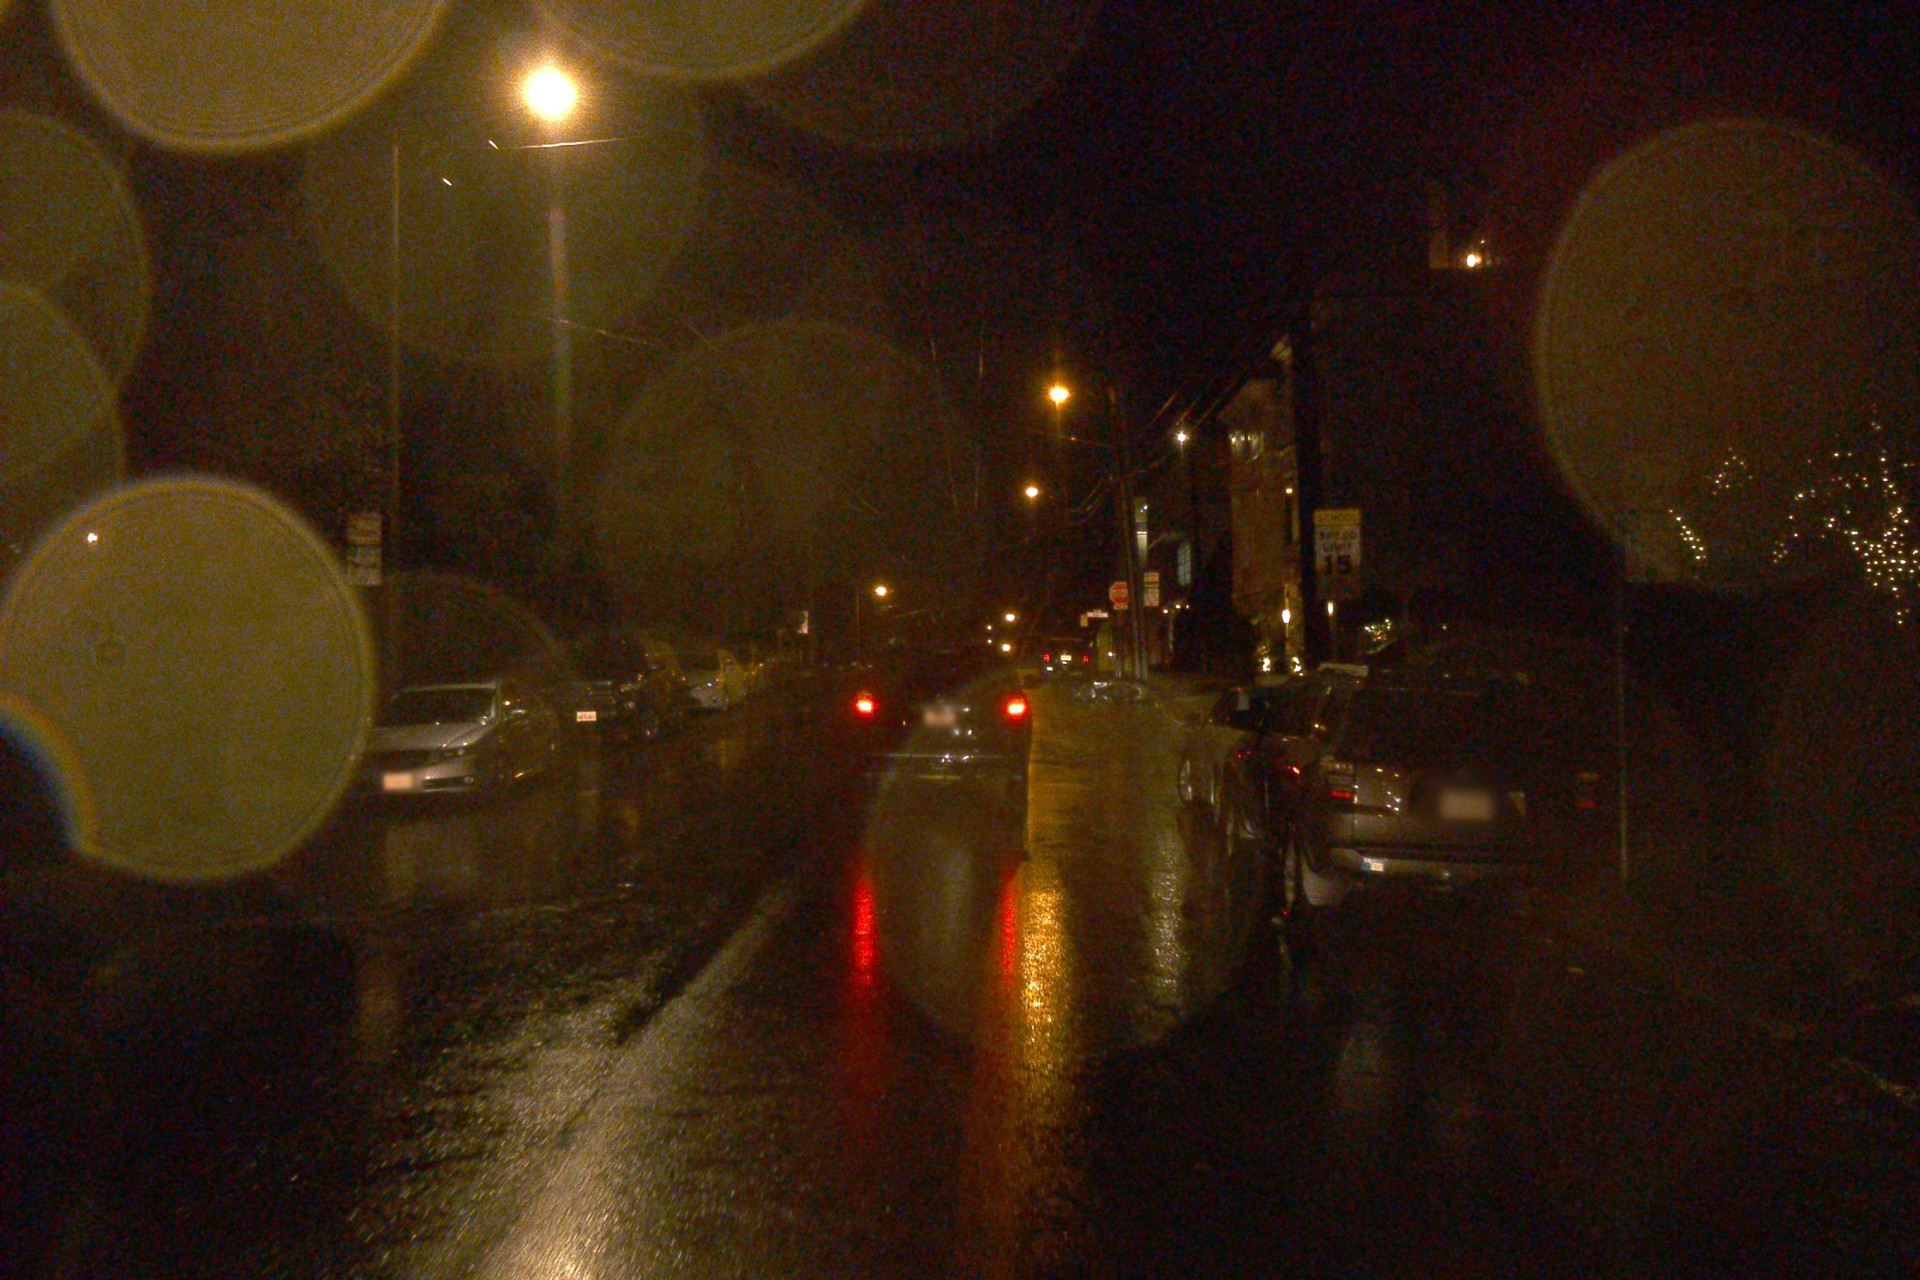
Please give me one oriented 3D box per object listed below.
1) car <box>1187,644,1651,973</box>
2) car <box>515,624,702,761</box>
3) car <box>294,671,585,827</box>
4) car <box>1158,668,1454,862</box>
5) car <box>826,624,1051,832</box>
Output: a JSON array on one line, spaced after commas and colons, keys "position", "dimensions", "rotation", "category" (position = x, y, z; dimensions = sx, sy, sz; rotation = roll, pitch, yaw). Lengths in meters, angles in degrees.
[{"position": [3.155, 1.064, 15.399], "dimensions": [2.202, 1.930, 5.045], "rotation": [1, 1, -1], "category": "car"}, {"position": [-6.084, 0.832, 36.323], "dimensions": [2.271, 2.140, 5.660], "rotation": [1, 1, 0], "category": "car"}, {"position": [-6.182, 1.234, 25.094], "dimensions": [2.213, 1.530, 4.856], "rotation": [1, 1, 1], "category": "car"}, {"position": [3.410, 1.179, 21.343], "dimensions": [2.241, 1.590, 5.010], "rotation": [1, 1, 0], "category": "car"}, {"position": [-0.143, 0.883, 23.380], "dimensions": [2.267, 2.040, 4.792], "rotation": [1, 1, 2], "category": "car"}]
